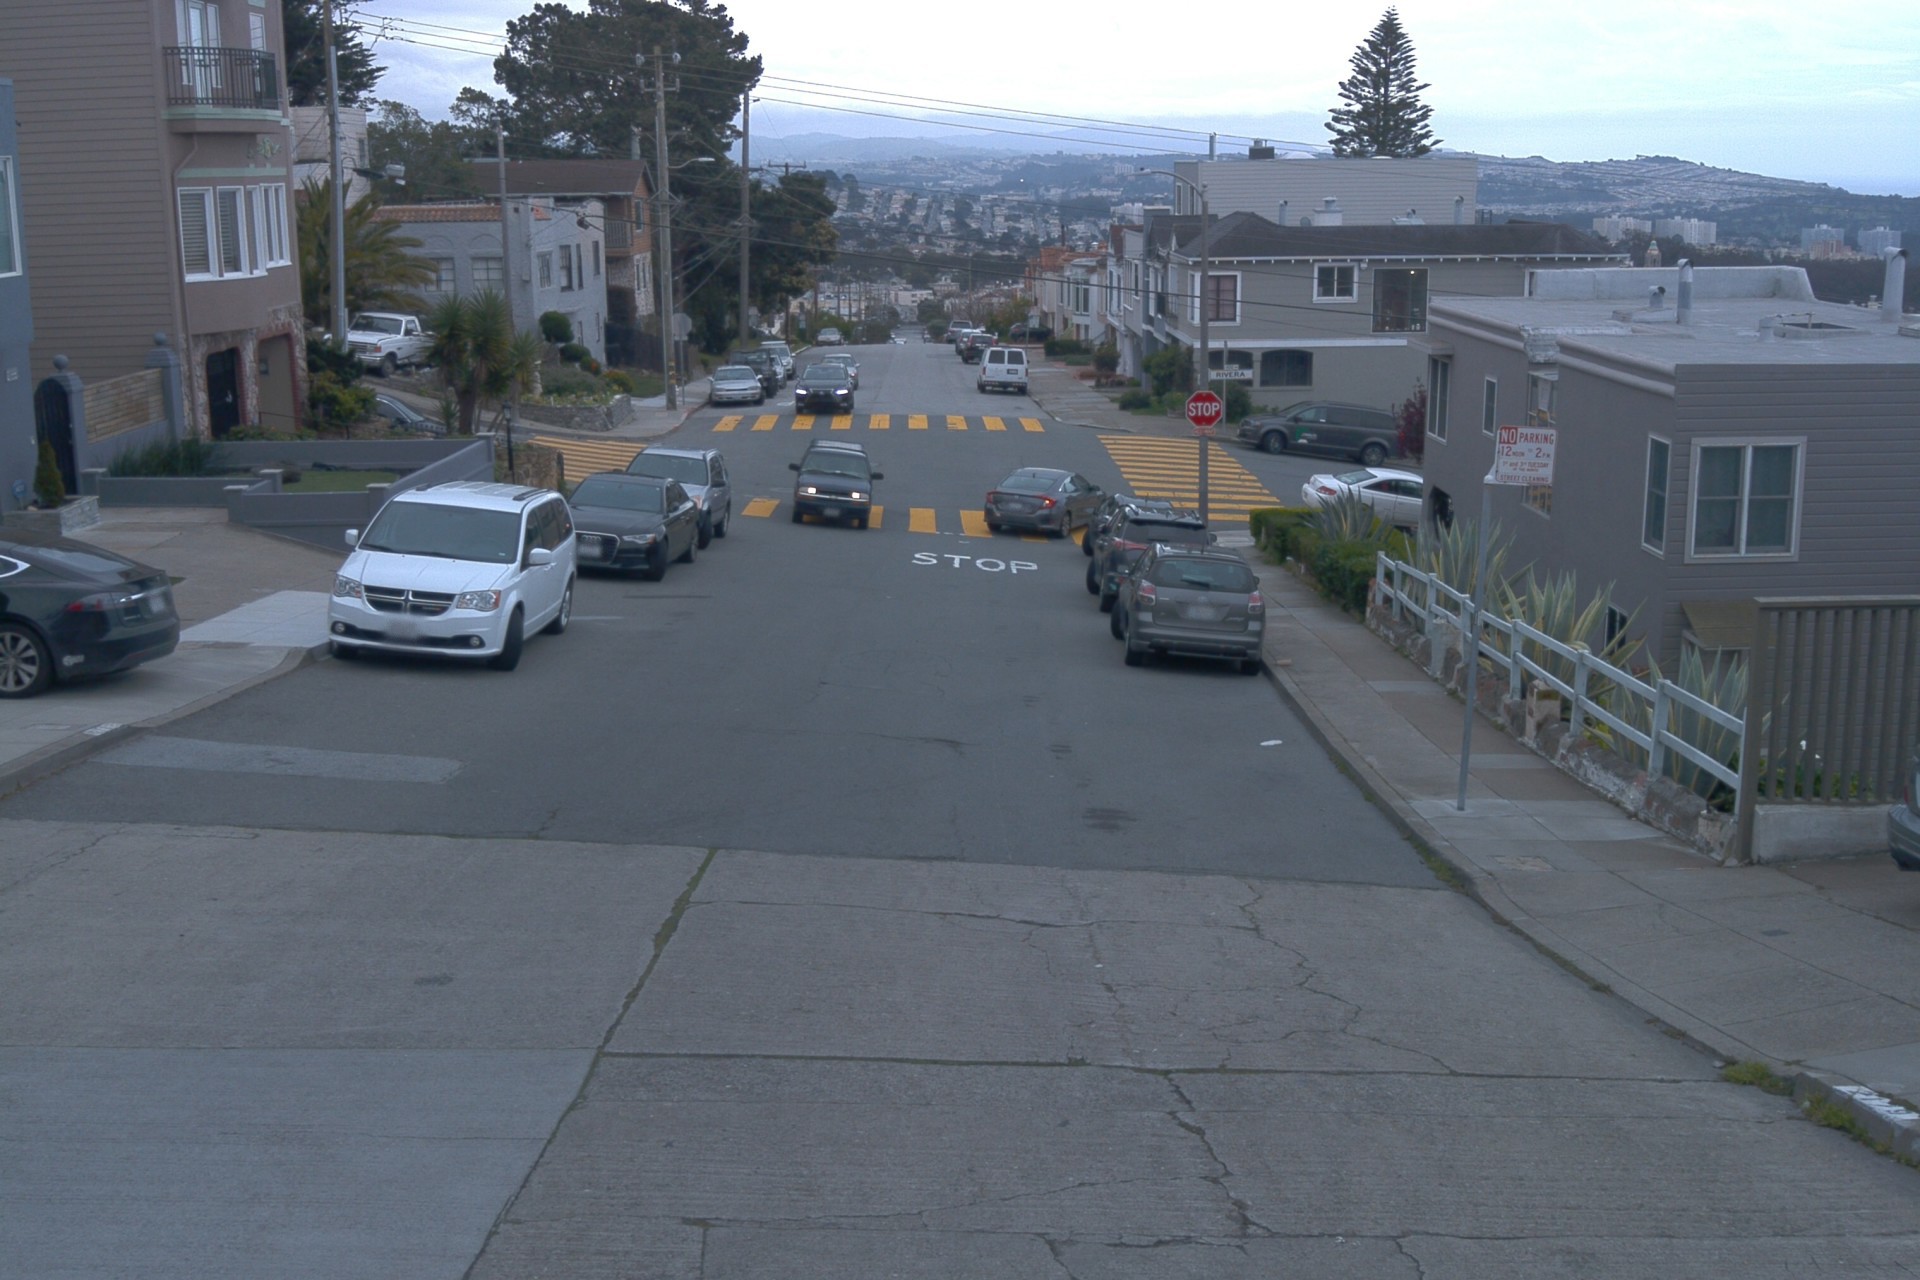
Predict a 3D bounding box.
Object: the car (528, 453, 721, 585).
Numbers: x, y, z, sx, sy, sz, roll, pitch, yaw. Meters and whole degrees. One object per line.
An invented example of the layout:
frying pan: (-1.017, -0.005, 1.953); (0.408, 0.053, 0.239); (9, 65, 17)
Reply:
car: (-5.176, -1.828, 32.502); (2.006, 1.790, 5.039); (0, 0, 2)

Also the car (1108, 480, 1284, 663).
car: (3.054, -0.838, 27.521); (2.100, 2.230, 4.506); (0, 0, 3)

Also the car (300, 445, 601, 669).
car: (-5.509, -0.822, 23.029); (2.251, 2.231, 4.981); (0, 0, -2)

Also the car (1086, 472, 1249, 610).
car: (3.265, -1.525, 33.417); (2.279, 1.990, 4.876); (0, 0, 1)
